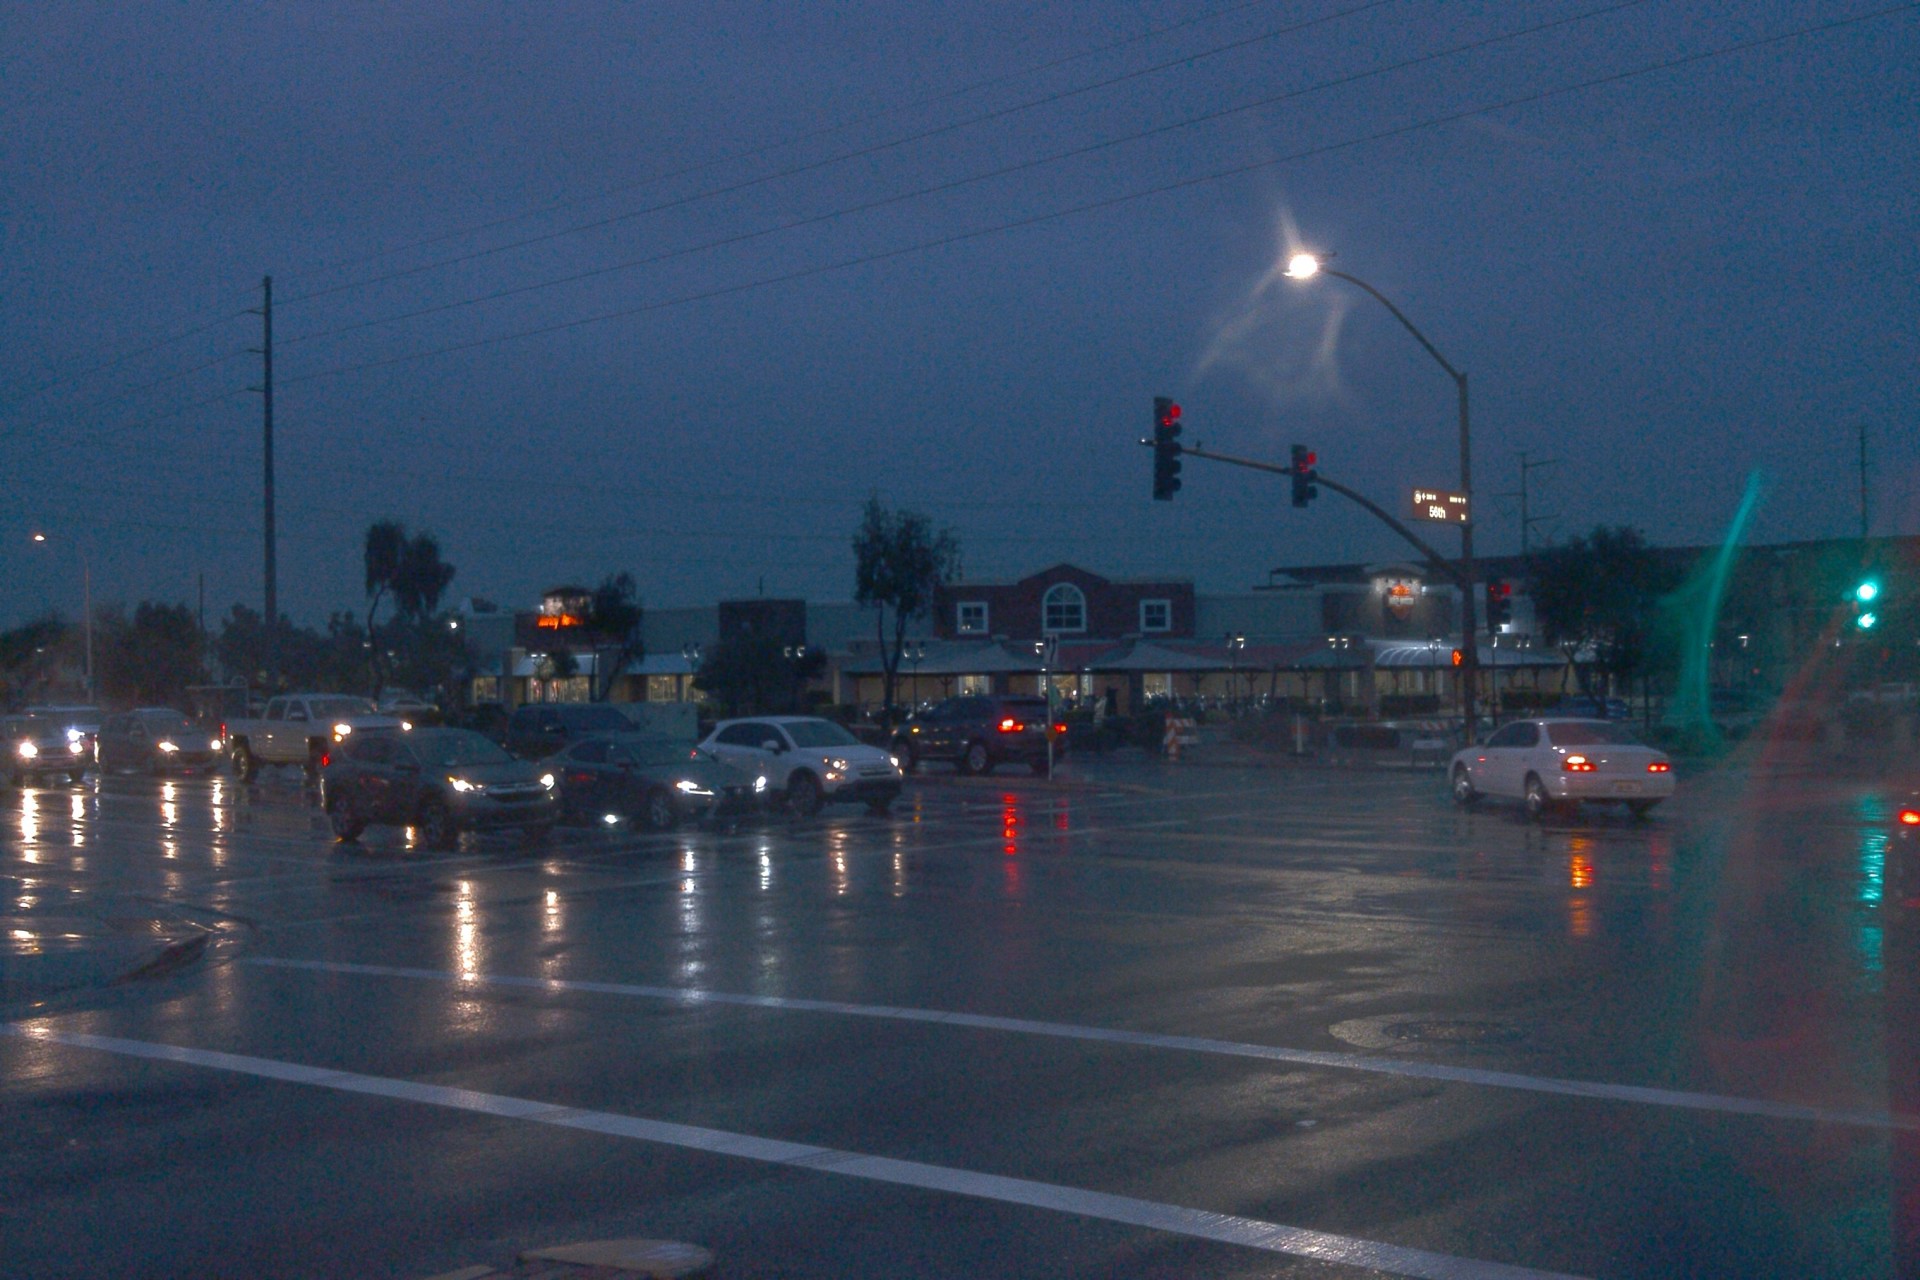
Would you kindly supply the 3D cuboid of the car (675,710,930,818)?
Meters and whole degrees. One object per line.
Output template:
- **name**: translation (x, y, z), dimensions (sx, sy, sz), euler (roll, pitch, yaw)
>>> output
- **car**: translation (-2.752, 2.066, 35.737), dimensions (2.095, 1.630, 4.278), euler (1, -1, -44)

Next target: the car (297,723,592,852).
- **car**: translation (-7.787, 2.138, 31.281), dimensions (4.544, 1.660, 2.258), euler (-1, -1, 45)

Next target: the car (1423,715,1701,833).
- **car**: translation (8.990, 1.955, 31.644), dimensions (2.154, 1.520, 4.828), euler (0, -1, -10)

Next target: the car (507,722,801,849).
- **car**: translation (-4.935, 2.242, 33.192), dimensions (4.666, 1.730, 2.267), euler (-1, -1, 44)
